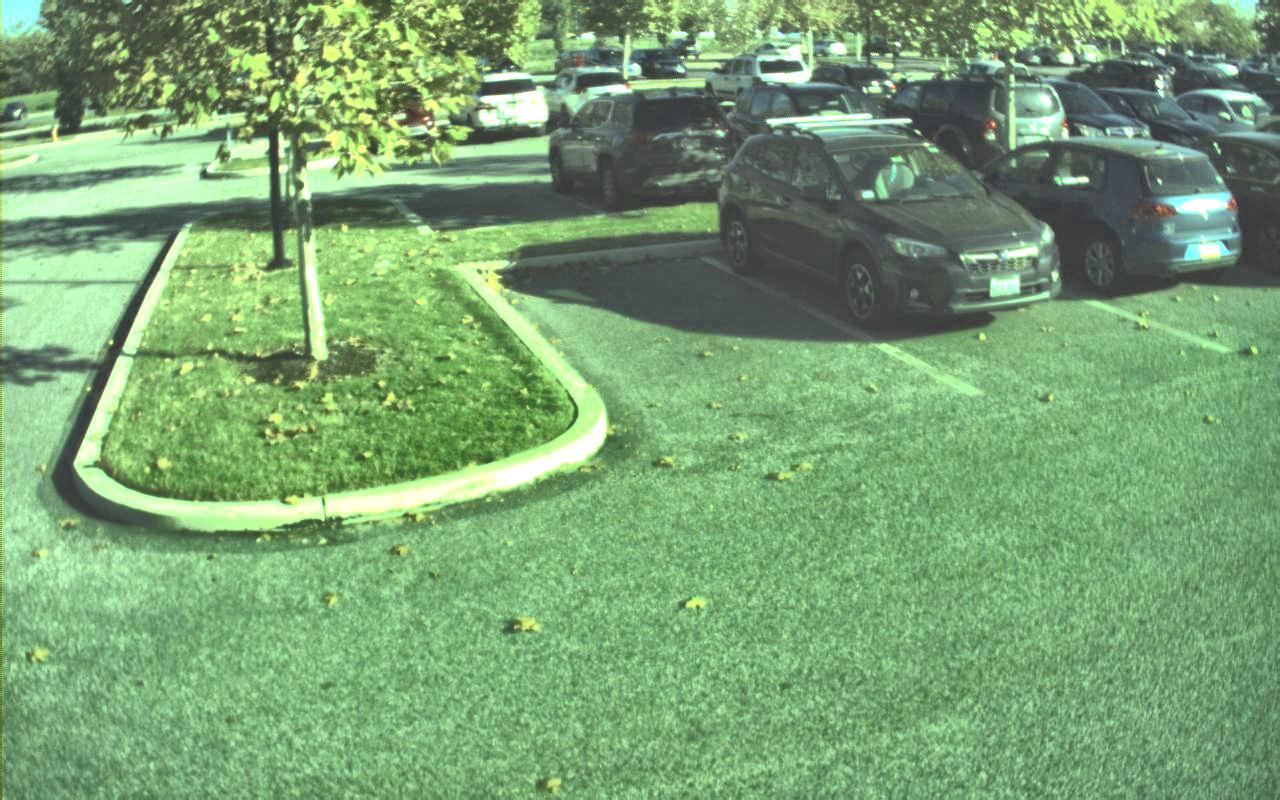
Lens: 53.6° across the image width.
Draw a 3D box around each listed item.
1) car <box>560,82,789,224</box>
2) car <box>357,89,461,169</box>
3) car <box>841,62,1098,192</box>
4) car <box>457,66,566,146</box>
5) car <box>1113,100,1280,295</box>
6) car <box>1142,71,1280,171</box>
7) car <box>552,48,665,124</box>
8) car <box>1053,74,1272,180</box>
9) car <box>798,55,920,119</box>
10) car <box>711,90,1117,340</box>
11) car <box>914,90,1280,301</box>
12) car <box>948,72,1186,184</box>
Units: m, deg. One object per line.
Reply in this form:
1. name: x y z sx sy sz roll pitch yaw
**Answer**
1. car: 0.378 -3.998 19.566 2.026 1.732 4.740 -7 18 -18
2. car: -6.117 -7.117 31.965 1.977 1.671 4.502 -7 18 -19
3. car: 5.397 -4.665 20.263 2.029 1.764 4.685 -7 18 -20
4. car: -3.519 -7.884 32.889 2.042 1.820 4.692 -6 17 -16
5. car: 7.595 -2.500 13.187 1.955 1.572 4.564 -5 17 -13
6. car: 12.694 -5.923 23.854 1.968 1.626 4.529 -5 17 -14
7. car: -0.958 -8.643 33.846 2.050 1.864 4.689 -5 17 -14
8. car: 10.211 -5.372 22.646 1.959 1.599 4.457 -8 18 -22
9. car: 6.327 -9.182 35.798 1.951 1.666 4.458 -5 17 -14
10. car: 2.428 -2.012 11.945 1.956 1.717 4.526 -6 17 -18
11. car: 4.925 -2.366 12.851 1.913 1.643 4.298 -8 18 -21
12. car: 7.730 -5.023 21.663 1.943 1.608 4.426 -9 18 -26
